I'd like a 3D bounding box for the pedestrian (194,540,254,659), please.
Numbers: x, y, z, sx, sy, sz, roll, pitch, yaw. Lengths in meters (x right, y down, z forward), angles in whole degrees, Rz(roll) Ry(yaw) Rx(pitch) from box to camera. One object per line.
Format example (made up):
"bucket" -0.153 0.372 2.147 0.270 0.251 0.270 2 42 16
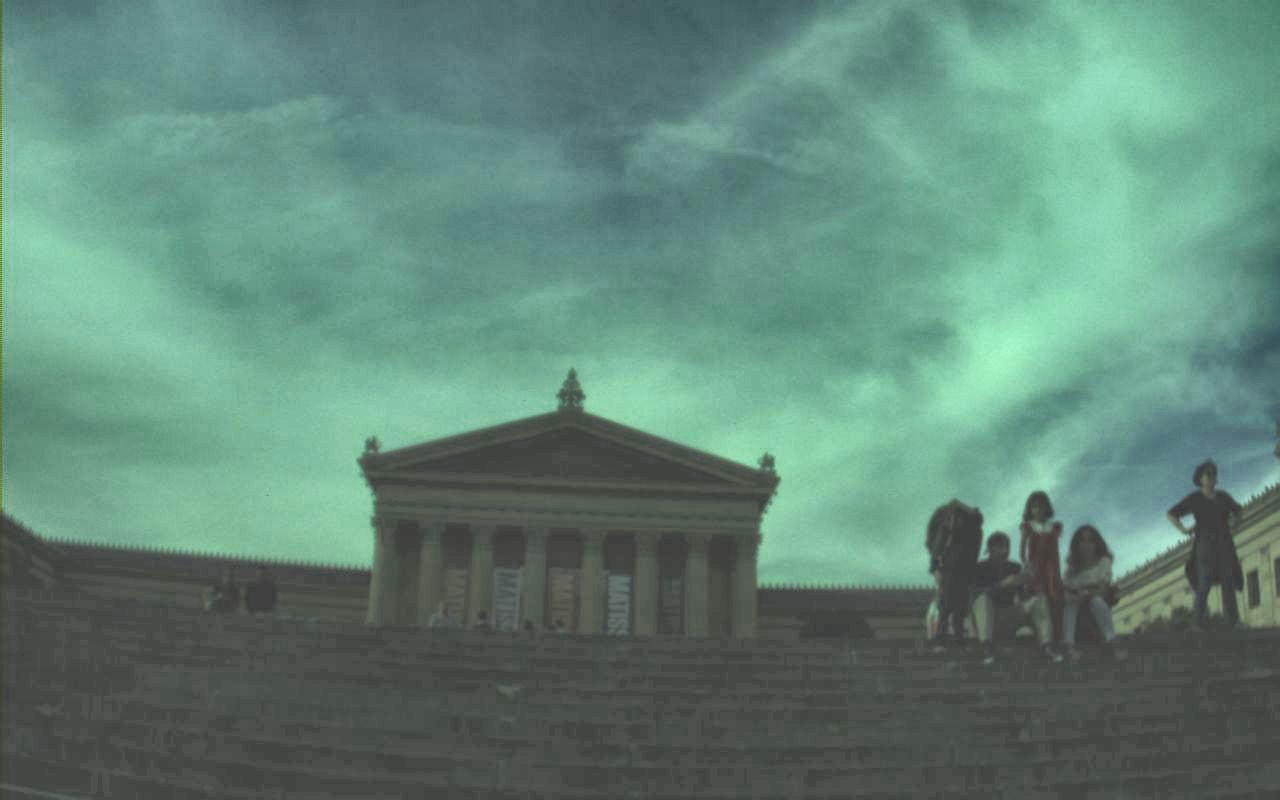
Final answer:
"pedestrian" -6.667 3.205 18.877 0.723 1.799 0.718 0 0 -38

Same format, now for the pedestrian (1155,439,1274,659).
"pedestrian" 5.063 1.317 10.088 0.806 1.851 0.798 0 0 6
